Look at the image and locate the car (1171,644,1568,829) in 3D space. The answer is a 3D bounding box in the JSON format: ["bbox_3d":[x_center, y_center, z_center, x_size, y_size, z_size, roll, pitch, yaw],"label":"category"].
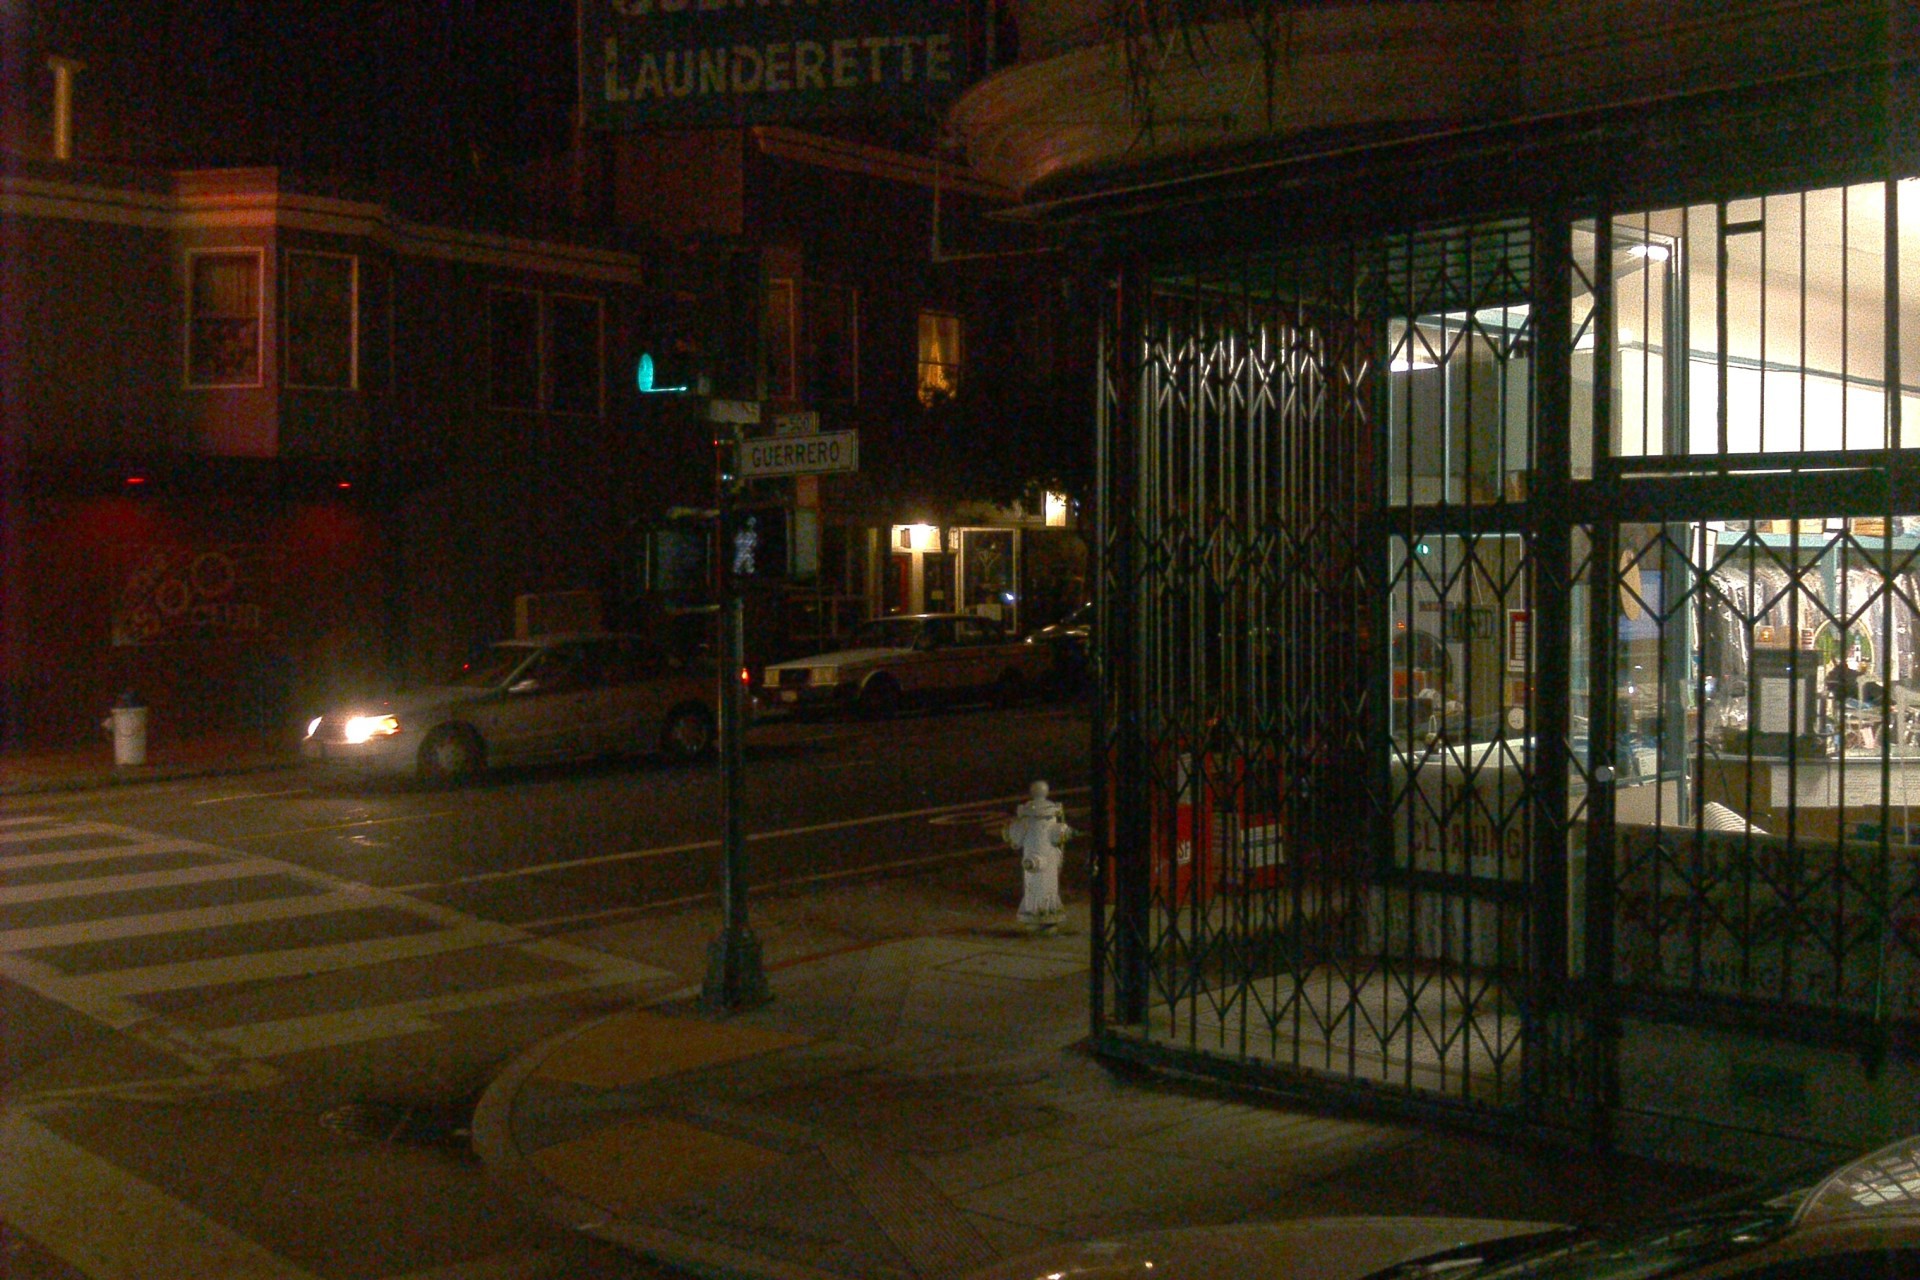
[{"bbox_3d":[3.605,0.772,18.002,3.504,1.420,1.655,1,0,-45],"label":"car"}]

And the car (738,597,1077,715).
[{"bbox_3d":[-0.652,0.226,29.841,1.884,1.550,4.981,1,0,43],"label":"car"}]

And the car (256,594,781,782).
[{"bbox_3d":[-4.441,0.460,21.376,4.810,1.720,2.142,1,0,-41],"label":"car"}]

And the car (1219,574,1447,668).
[{"bbox_3d":[6.680,-0.304,37.012,1.924,1.570,4.226,1,0,45],"label":"car"}]

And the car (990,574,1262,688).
[{"bbox_3d":[2.702,-0.117,33.202,1.991,1.690,4.349,1,0,44],"label":"car"}]
